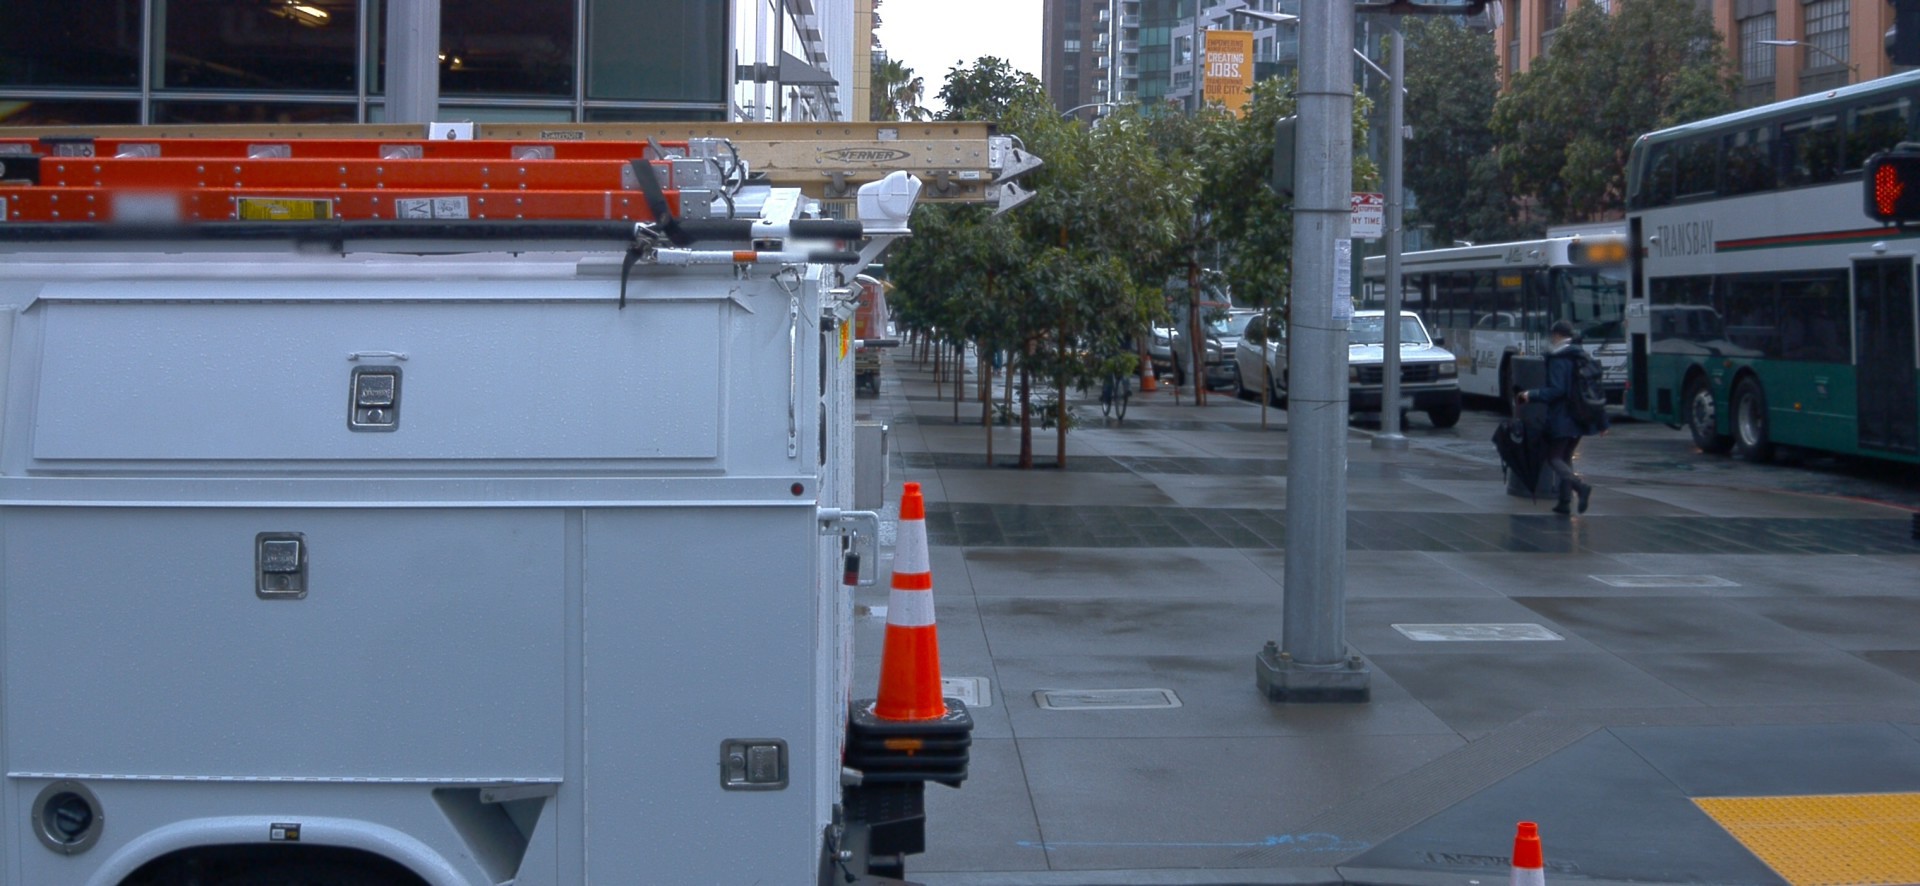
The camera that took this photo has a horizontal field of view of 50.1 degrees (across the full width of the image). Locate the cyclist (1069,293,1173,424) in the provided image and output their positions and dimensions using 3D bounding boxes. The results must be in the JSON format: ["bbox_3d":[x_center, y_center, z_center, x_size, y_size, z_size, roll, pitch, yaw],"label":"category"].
[{"bbox_3d":[2.276,-1.240,29.408,1.210,1.741,2.030,0,4,-3],"label":"cyclist"}]

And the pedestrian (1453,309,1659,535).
[{"bbox_3d":[4.633,-0.202,16.001,1.244,1.638,0.910,-1,2,-23],"label":"pedestrian"}]

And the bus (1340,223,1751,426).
[{"bbox_3d":[9.873,-2.408,36.816,3.258,2.996,12.707,0,6,-2],"label":"bus"}]
